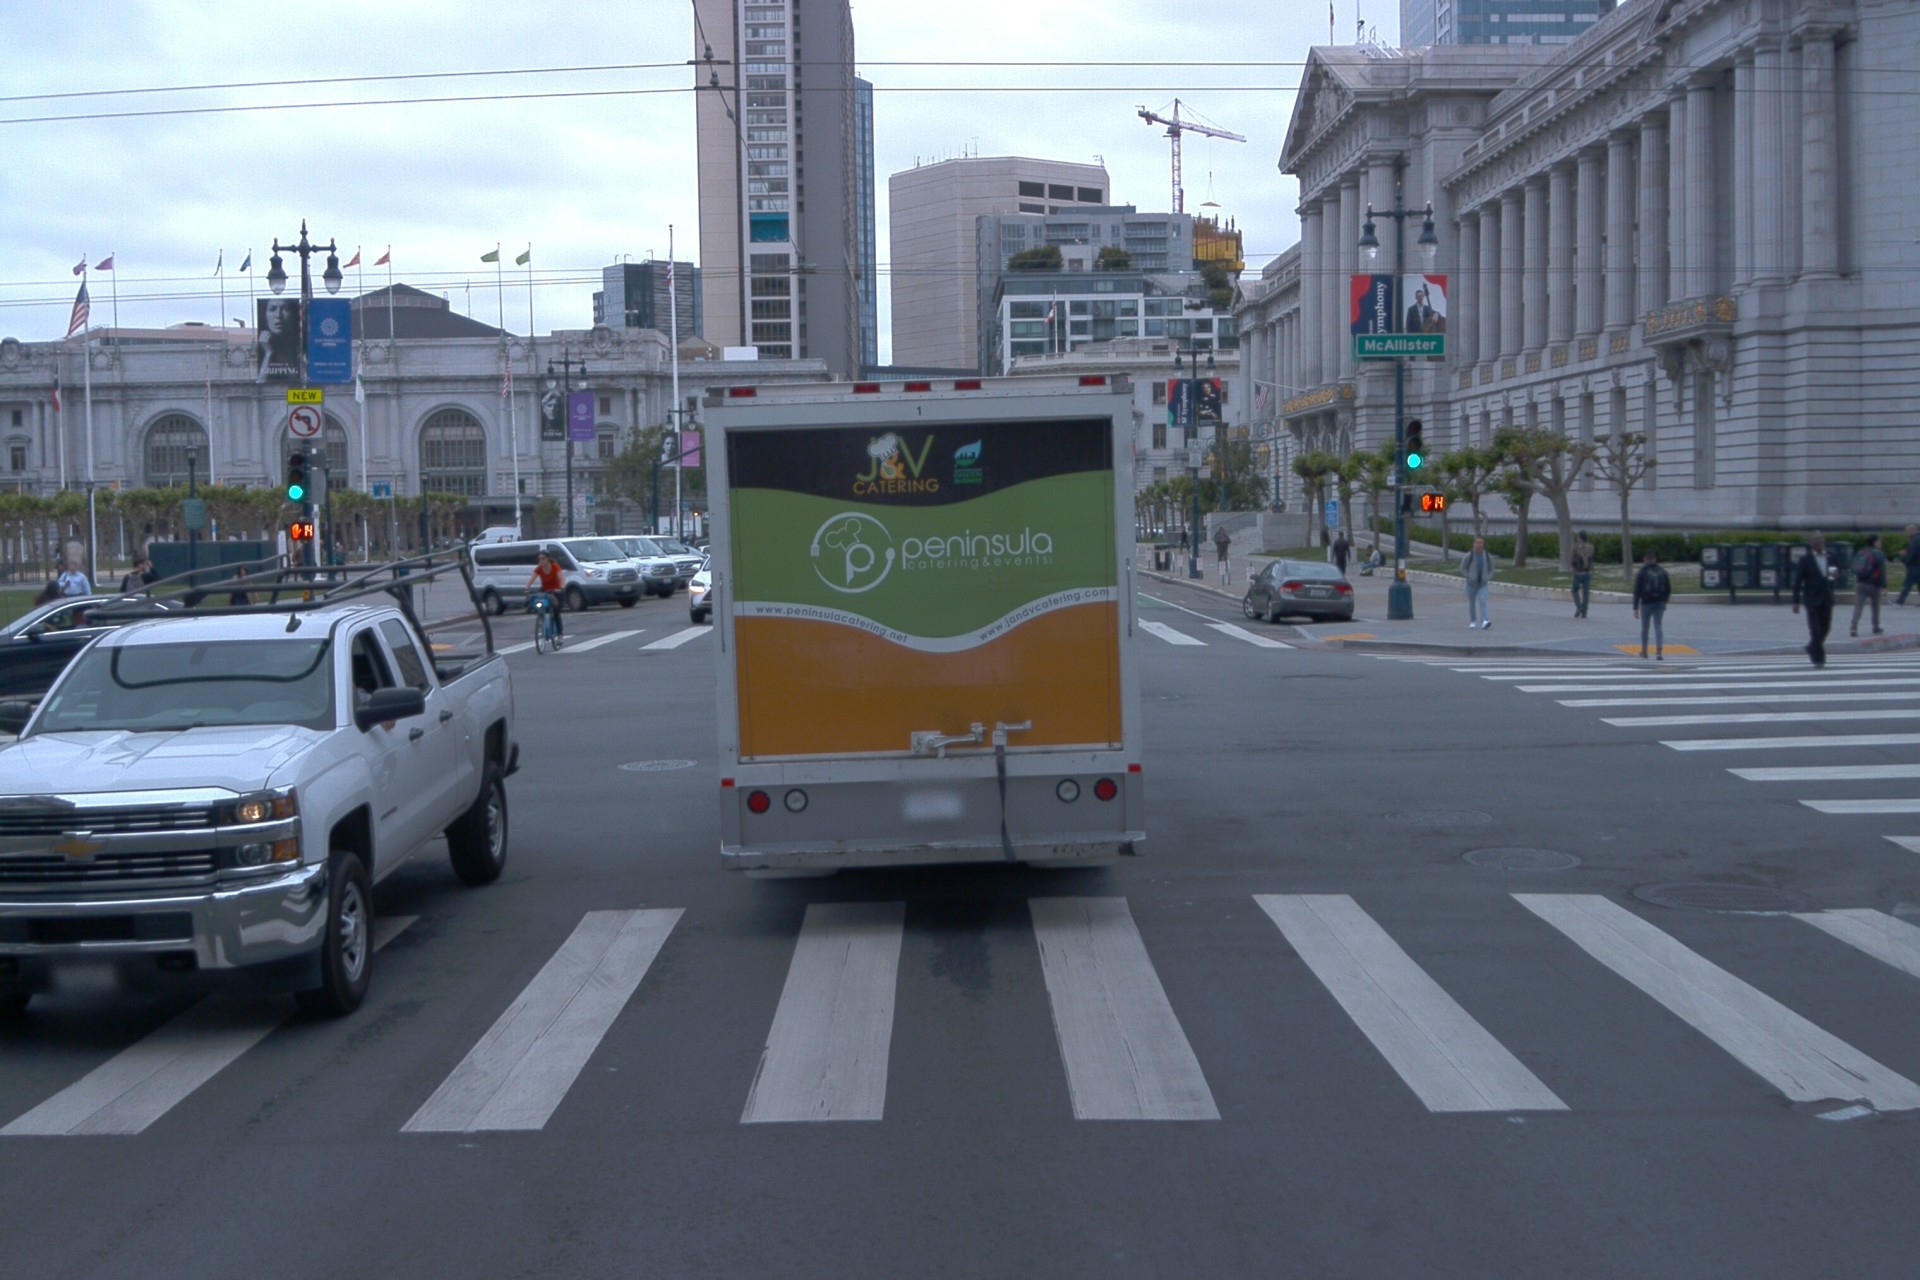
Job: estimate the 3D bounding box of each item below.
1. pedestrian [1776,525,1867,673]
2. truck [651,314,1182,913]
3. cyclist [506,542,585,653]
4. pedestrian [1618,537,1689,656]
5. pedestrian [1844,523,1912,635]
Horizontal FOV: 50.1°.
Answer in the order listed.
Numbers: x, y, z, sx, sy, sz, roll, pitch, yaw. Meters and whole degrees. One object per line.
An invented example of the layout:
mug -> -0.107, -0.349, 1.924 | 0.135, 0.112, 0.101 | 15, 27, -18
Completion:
pedestrian -> 10.951, -0.517, 26.167 | 0.812, 1.850, 0.950 | 0, 1, 5
truck -> -0.367, -0.207, 15.012 | 2.917, 3.300, 7.285 | 0, 1, -2
cyclist -> -7.113, -0.731, 35.398 | 0.829, 1.850, 1.925 | 0, 1, 4
pedestrian -> 10.365, -0.647, 30.779 | 0.832, 1.760, 0.933 | 0, 1, 7
pedestrian -> 15.516, -1.020, 34.757 | 0.805, 1.850, 0.872 | 1, 1, 43
